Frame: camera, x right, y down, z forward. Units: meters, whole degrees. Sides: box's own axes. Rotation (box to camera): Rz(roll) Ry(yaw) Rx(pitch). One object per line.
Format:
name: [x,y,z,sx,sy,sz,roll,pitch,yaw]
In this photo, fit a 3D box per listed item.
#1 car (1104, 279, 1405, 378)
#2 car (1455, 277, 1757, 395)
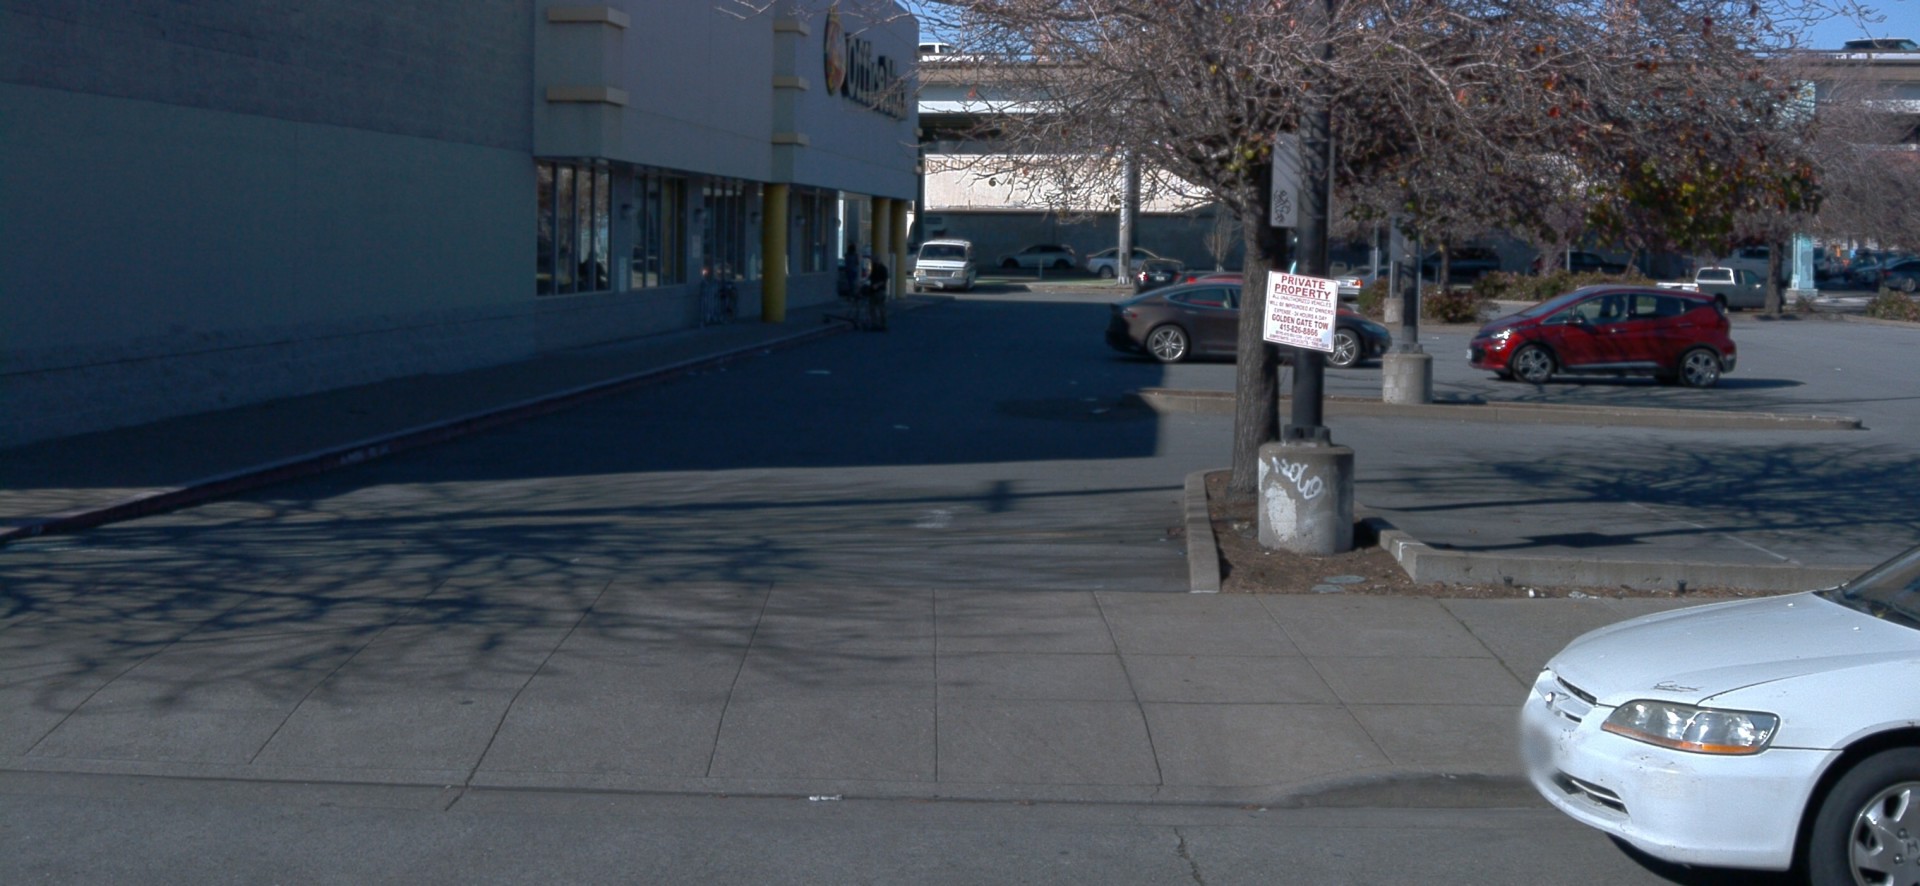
car: [5.055,-2.033,35.895,5.044,1.525,1.995,1,4,5]
car: [10.196,-1.732,32.729,4.156,1.695,2.038,1,4,2]
